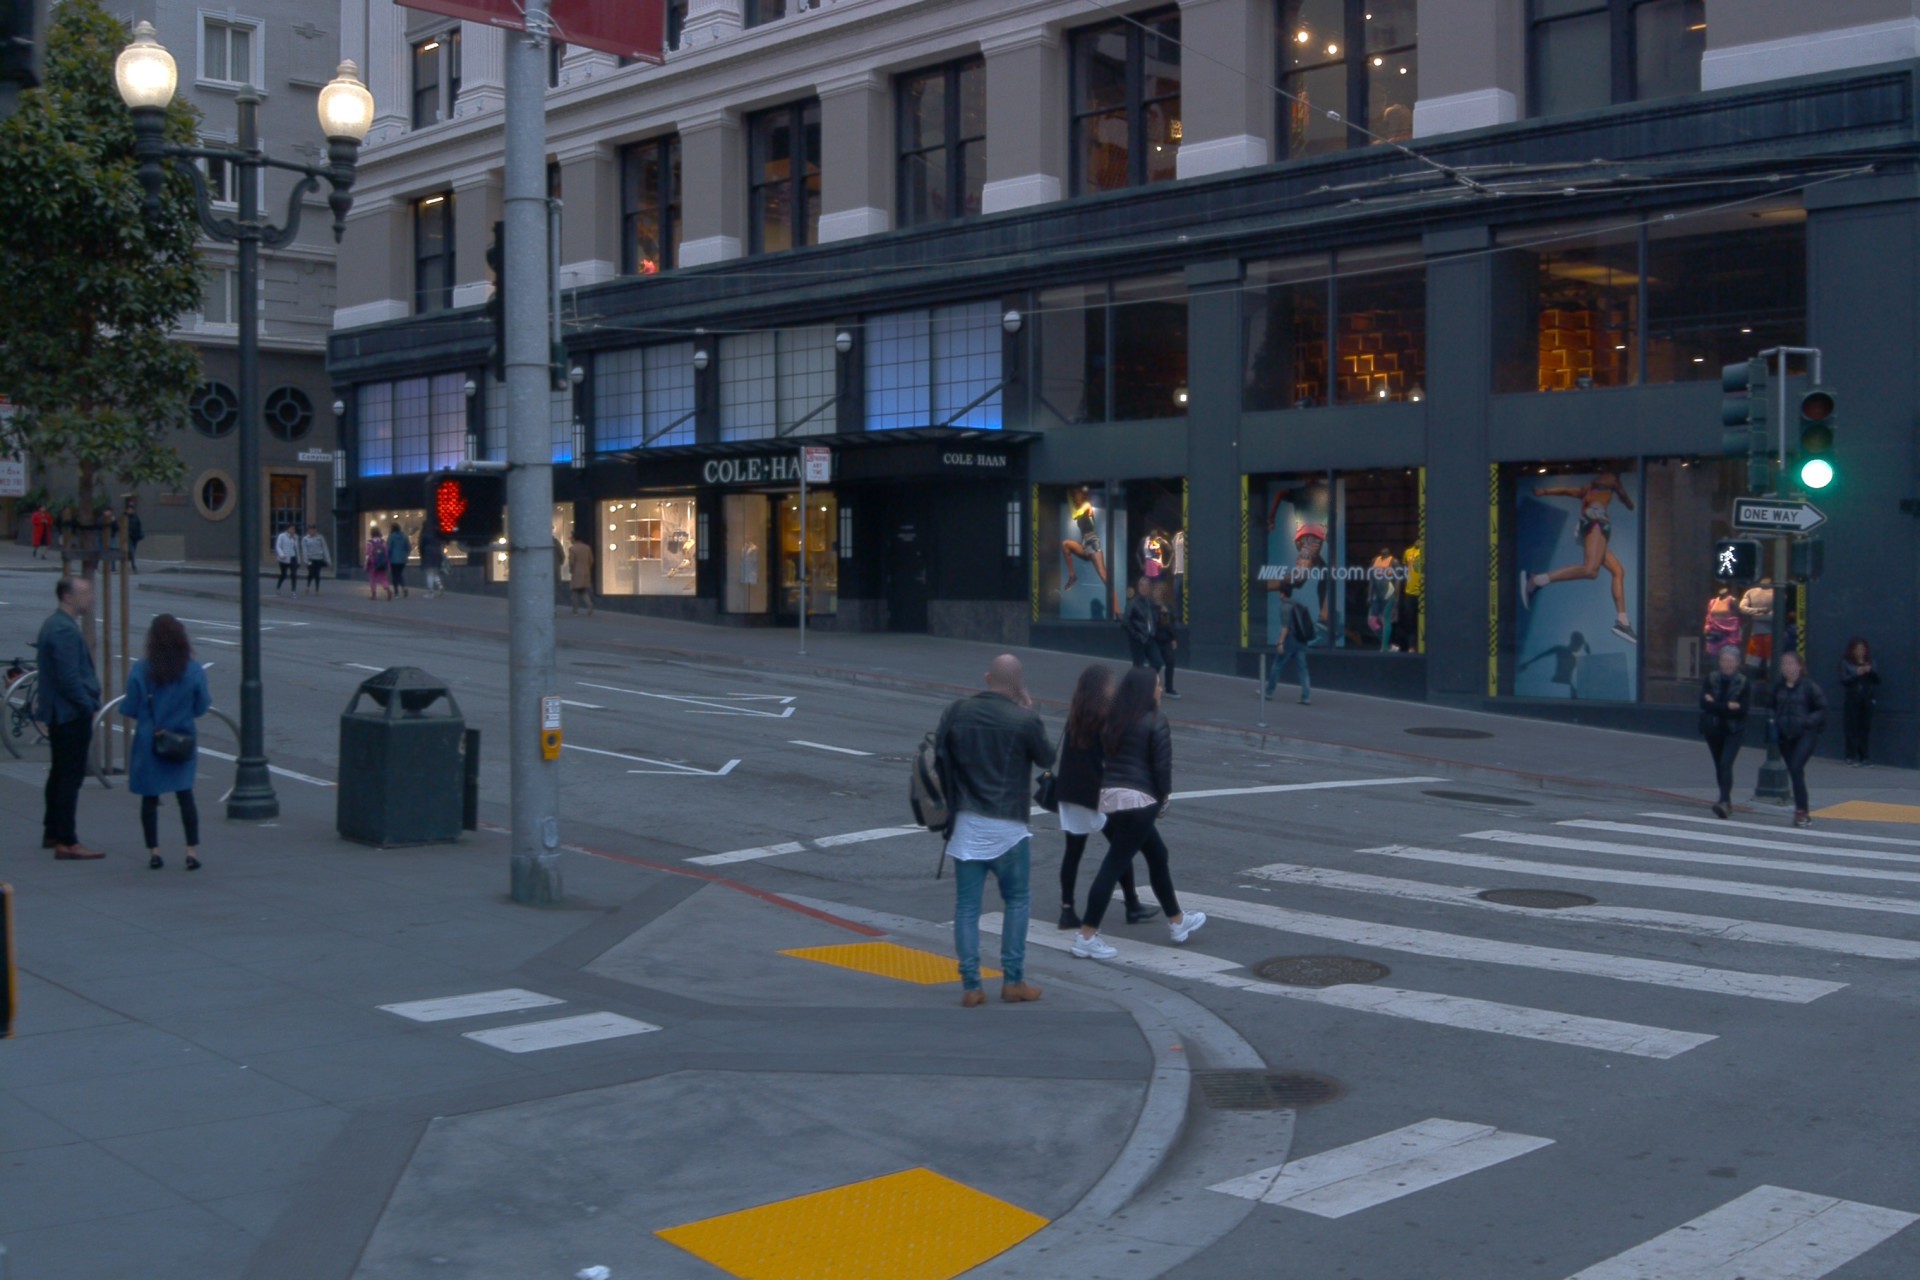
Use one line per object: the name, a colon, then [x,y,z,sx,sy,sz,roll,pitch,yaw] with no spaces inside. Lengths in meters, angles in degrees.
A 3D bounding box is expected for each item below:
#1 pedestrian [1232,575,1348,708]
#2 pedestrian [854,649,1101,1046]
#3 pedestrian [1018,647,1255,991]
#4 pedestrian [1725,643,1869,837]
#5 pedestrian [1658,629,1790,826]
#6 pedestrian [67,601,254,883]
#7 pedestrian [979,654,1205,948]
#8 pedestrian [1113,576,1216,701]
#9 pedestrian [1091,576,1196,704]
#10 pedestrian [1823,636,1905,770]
pedestrian: [4.469,0.013,27.744,1.121,1.750,1.078,1,1,44]
pedestrian: [0.110,0.969,10.205,0.927,1.820,1.127,0,1,17]
pedestrian: [1.030,0.995,11.994,1.113,1.890,0.813,0,1,-33]
pedestrian: [7.774,0.891,19.022,0.952,1.710,1.073,1,1,39]
pedestrian: [7.288,0.800,19.533,0.895,1.800,1.088,1,1,36]
pedestrian: [-5.195,0.623,13.306,0.951,1.750,0.801,0,1,-37]
pedestrian: [0.820,0.958,12.824,1.003,1.710,0.997,0,1,-36]
pedestrian: [2.766,-0.032,27.673,1.047,1.650,0.891,1,1,43]
pedestrian: [2.417,-0.013,27.029,1.047,1.650,0.891,1,1,43]
pedestrian: [10.392,0.716,23.569,0.639,1.500,0.686,0,1,2]
